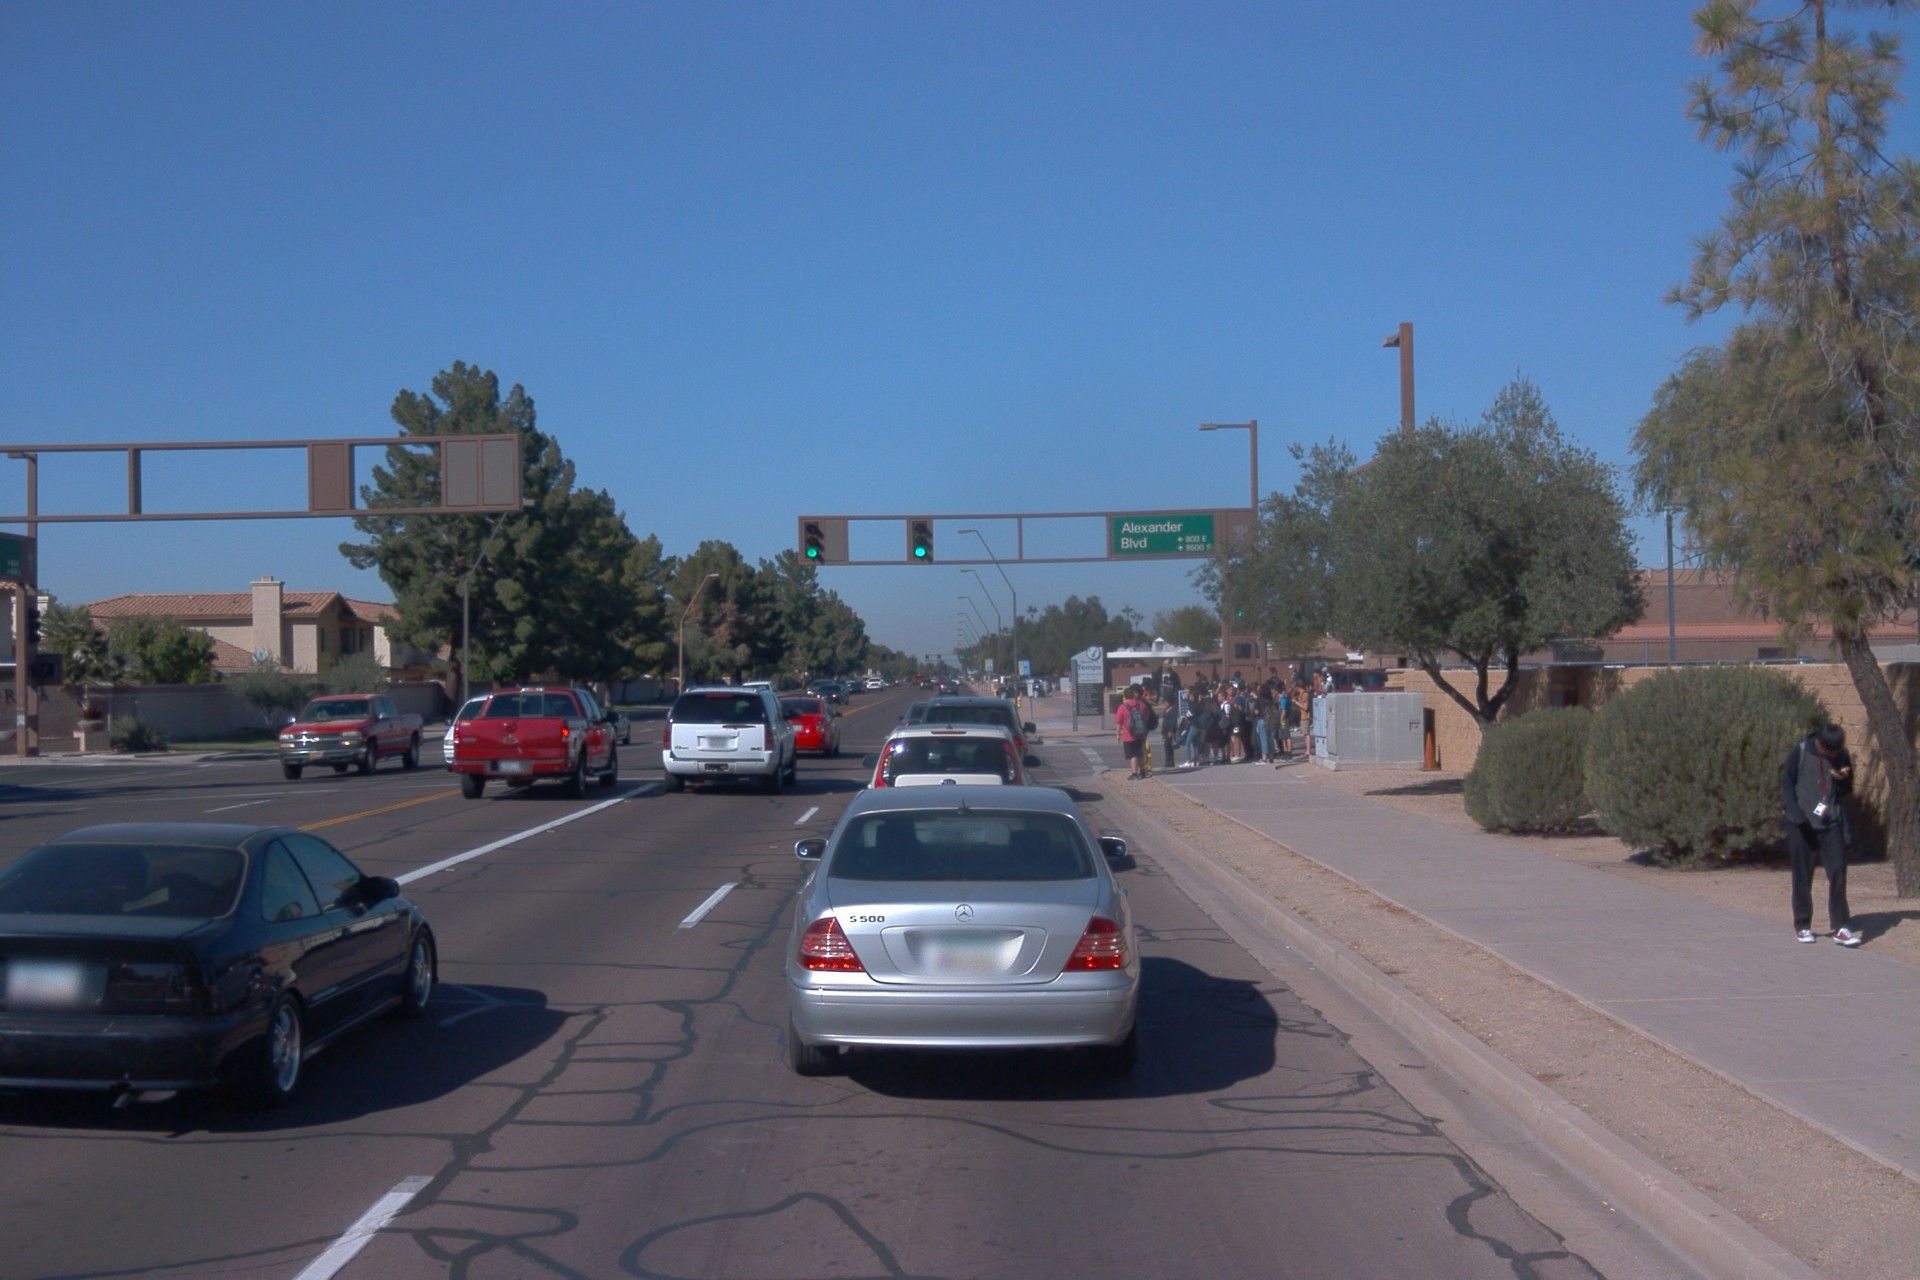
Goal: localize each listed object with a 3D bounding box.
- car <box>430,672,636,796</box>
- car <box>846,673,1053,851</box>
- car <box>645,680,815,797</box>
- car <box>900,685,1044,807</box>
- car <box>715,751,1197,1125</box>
[{"bbox_3d":[-7.322,1.570,36.352,2.581,1.980,5.796,0,-1,-2],"label":"car"},{"bbox_3d":[-0.062,1.256,22.958,2.056,1.760,4.487,0,-1,1],"label":"car"},{"bbox_3d":[-4.068,1.711,37.697,2.513,1.980,4.967,0,-1,0],"label":"car"},{"bbox_3d":[0.269,1.765,36.117,2.322,1.950,4.955,0,-1,2],"label":"car"},{"bbox_3d":[0.002,1.524,12.057,2.265,1.600,4.514,0,-1,1],"label":"car"}]
